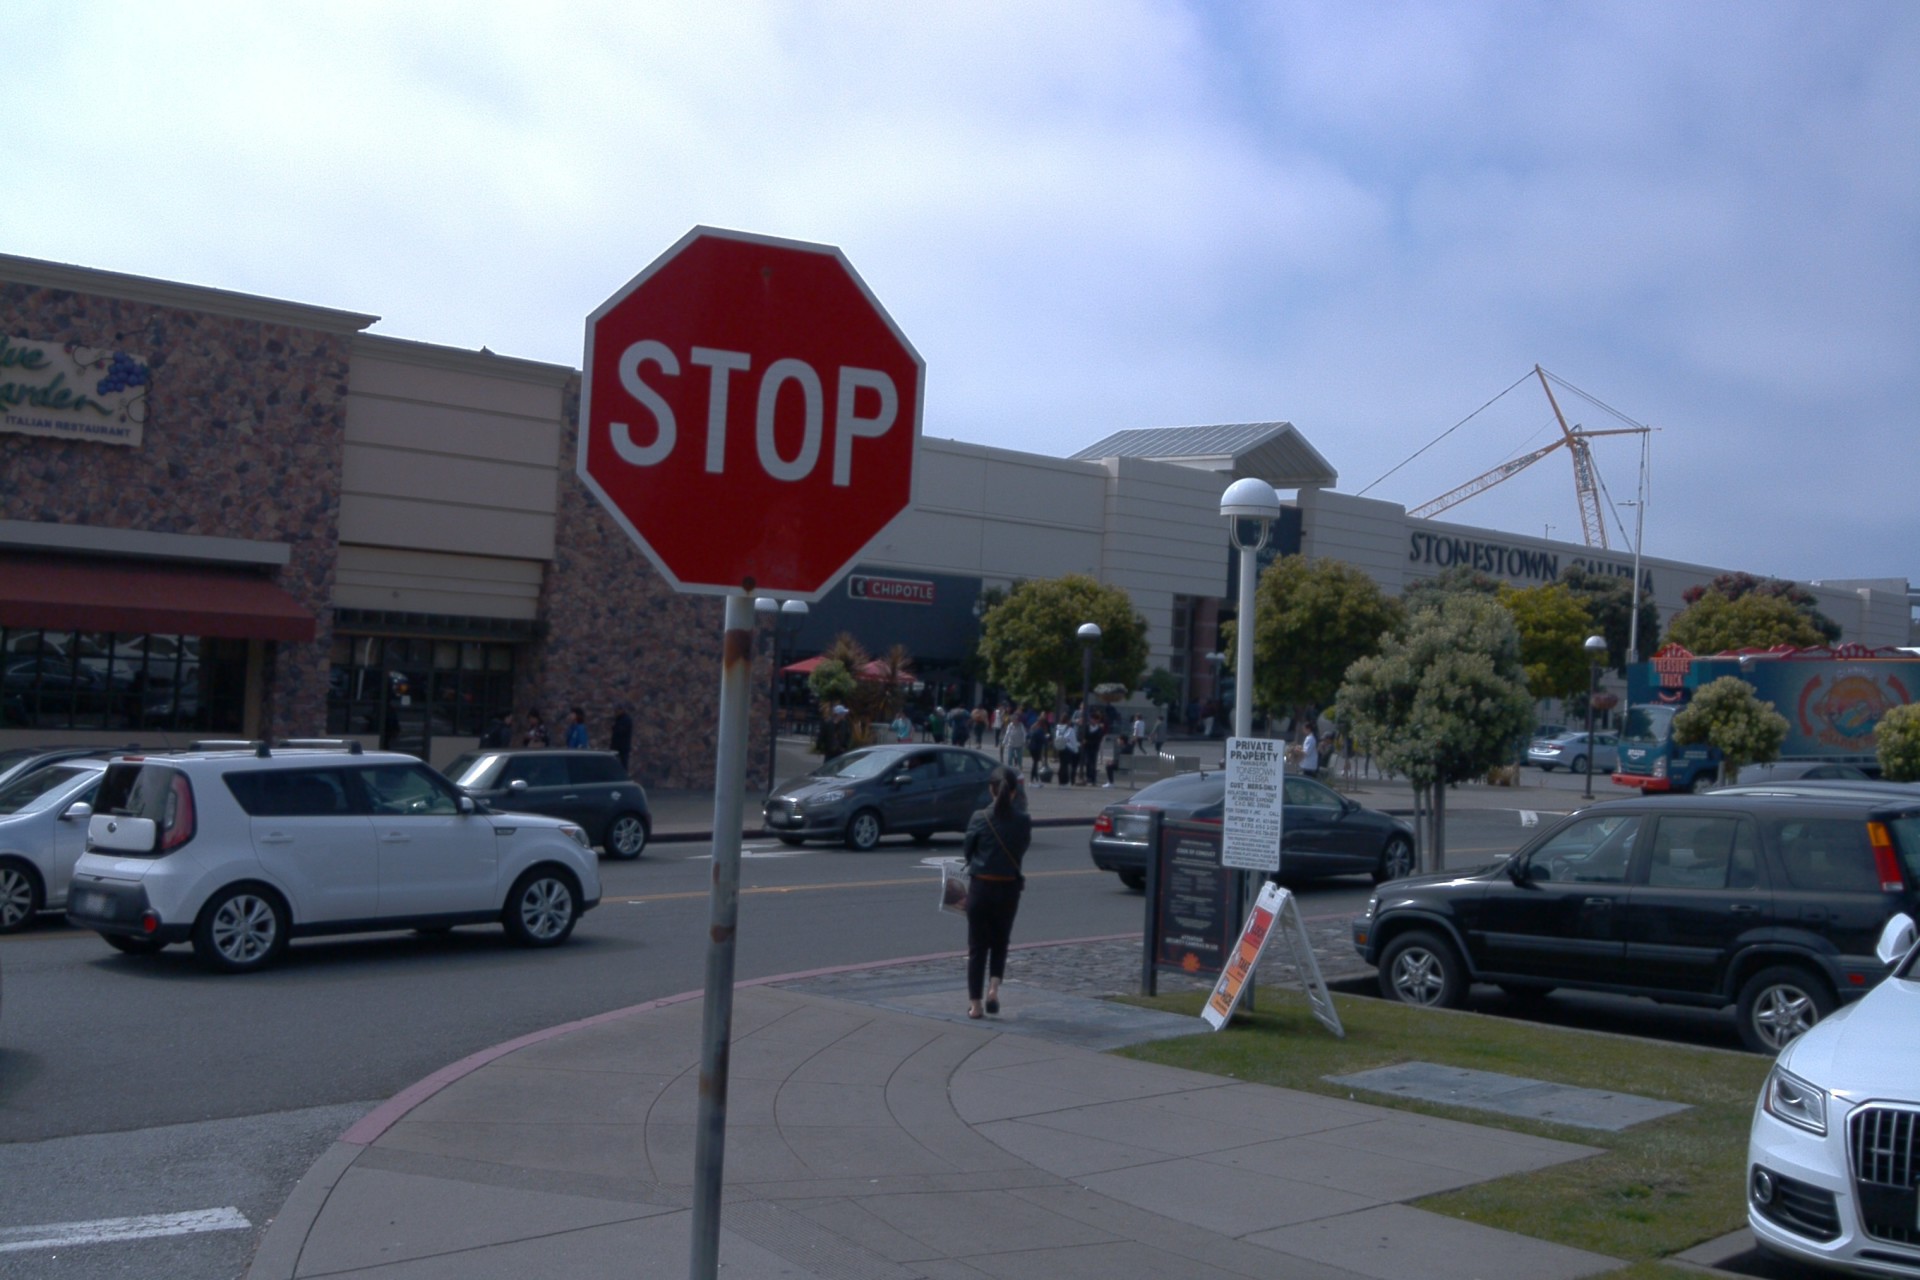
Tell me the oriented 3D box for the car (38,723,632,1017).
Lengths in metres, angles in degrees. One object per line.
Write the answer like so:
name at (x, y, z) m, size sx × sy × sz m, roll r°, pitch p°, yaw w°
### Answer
car at (-4.763, 1.647, 16.055) m, size 1.882 × 1.780 × 4.021 m, roll 0°, pitch 1°, yaw 43°

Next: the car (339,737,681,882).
car at (-5.494, 2.017, 25.308) m, size 3.678 × 1.422 × 1.848 m, roll -1°, pitch 1°, yaw -43°

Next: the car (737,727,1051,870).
car at (-0.876, 2.185, 29.413) m, size 1.938 × 1.640 × 4.407 m, roll 0°, pitch 1°, yaw 43°

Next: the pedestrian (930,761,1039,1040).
pedestrian at (0.141, 1.537, 12.312) m, size 0.630 × 1.570 × 0.738 m, roll 0°, pitch 0°, yaw 0°

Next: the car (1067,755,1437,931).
car at (3.452, 2.245, 23.717) m, size 1.963 × 1.530 × 4.466 m, roll 0°, pitch 1°, yaw 44°
